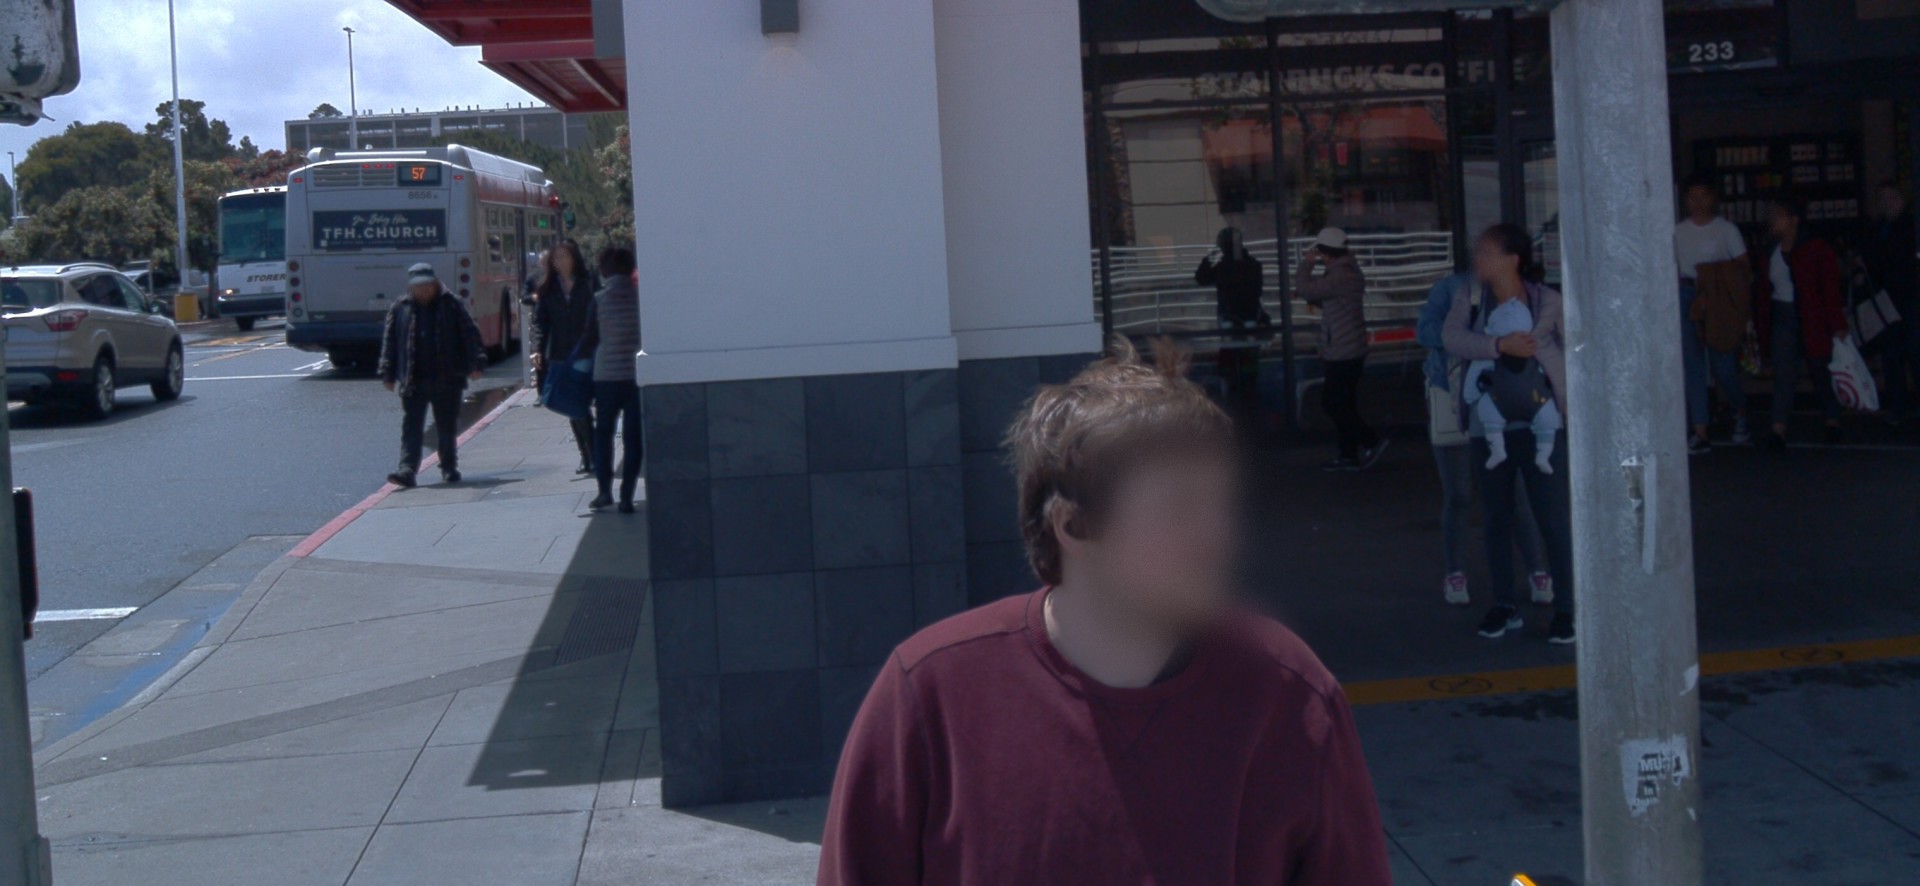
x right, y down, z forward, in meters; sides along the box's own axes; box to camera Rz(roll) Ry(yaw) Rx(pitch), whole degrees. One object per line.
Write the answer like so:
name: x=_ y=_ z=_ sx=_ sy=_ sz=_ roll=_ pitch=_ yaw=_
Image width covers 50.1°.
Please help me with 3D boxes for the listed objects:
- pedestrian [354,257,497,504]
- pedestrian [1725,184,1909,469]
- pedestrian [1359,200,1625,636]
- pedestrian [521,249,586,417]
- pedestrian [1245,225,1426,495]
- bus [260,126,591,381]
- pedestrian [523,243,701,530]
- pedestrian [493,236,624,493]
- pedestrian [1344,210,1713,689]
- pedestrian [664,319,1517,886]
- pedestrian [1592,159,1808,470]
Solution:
pedestrian: x=-3.863 y=-0.483 z=14.913 sx=0.888 sy=1.719 sz=0.873 roll=0 pitch=1 yaw=-6
pedestrian: x=5.125 y=-0.721 z=12.290 sx=0.752 sy=1.629 sz=0.767 roll=-1 pitch=2 yaw=-42
pedestrian: x=2.160 y=-0.143 z=8.437 sx=0.823 sy=1.689 sz=0.883 roll=0 pitch=1 yaw=-4
pedestrian: x=-4.264 y=-1.176 z=21.537 sx=0.653 sy=1.719 sz=0.810 roll=0 pitch=1 yaw=-12
pedestrian: x=2.265 y=-0.534 z=12.502 sx=0.965 sy=1.579 sz=0.958 roll=0 pitch=2 yaw=3
bus: x=-8.532 y=-3.313 z=35.207 sx=3.022 sy=3.395 sz=15.298 roll=0 pitch=5 yaw=-5
pedestrian: x=-2.173 y=-0.389 z=12.779 sx=0.888 sy=1.699 sz=0.832 roll=-1 pitch=1 yaw=-27
pedestrian: x=-2.872 y=-0.597 z=14.791 sx=0.827 sy=1.789 sz=0.939 roll=0 pitch=1 yaw=-5
pedestrian: x=2.127 y=-0.034 z=7.845 sx=1.072 sy=1.699 sz=1.066 roll=0 pitch=2 yaw=-4
pedestrian: x=0.097 y=0.833 z=2.267 sx=0.830 sy=1.909 sz=0.595 roll=0 pitch=1 yaw=-9
pedestrian: x=4.571 y=-0.819 z=12.699 sx=0.954 sy=1.829 sz=0.881 roll=-1 pitch=2 yaw=-38
